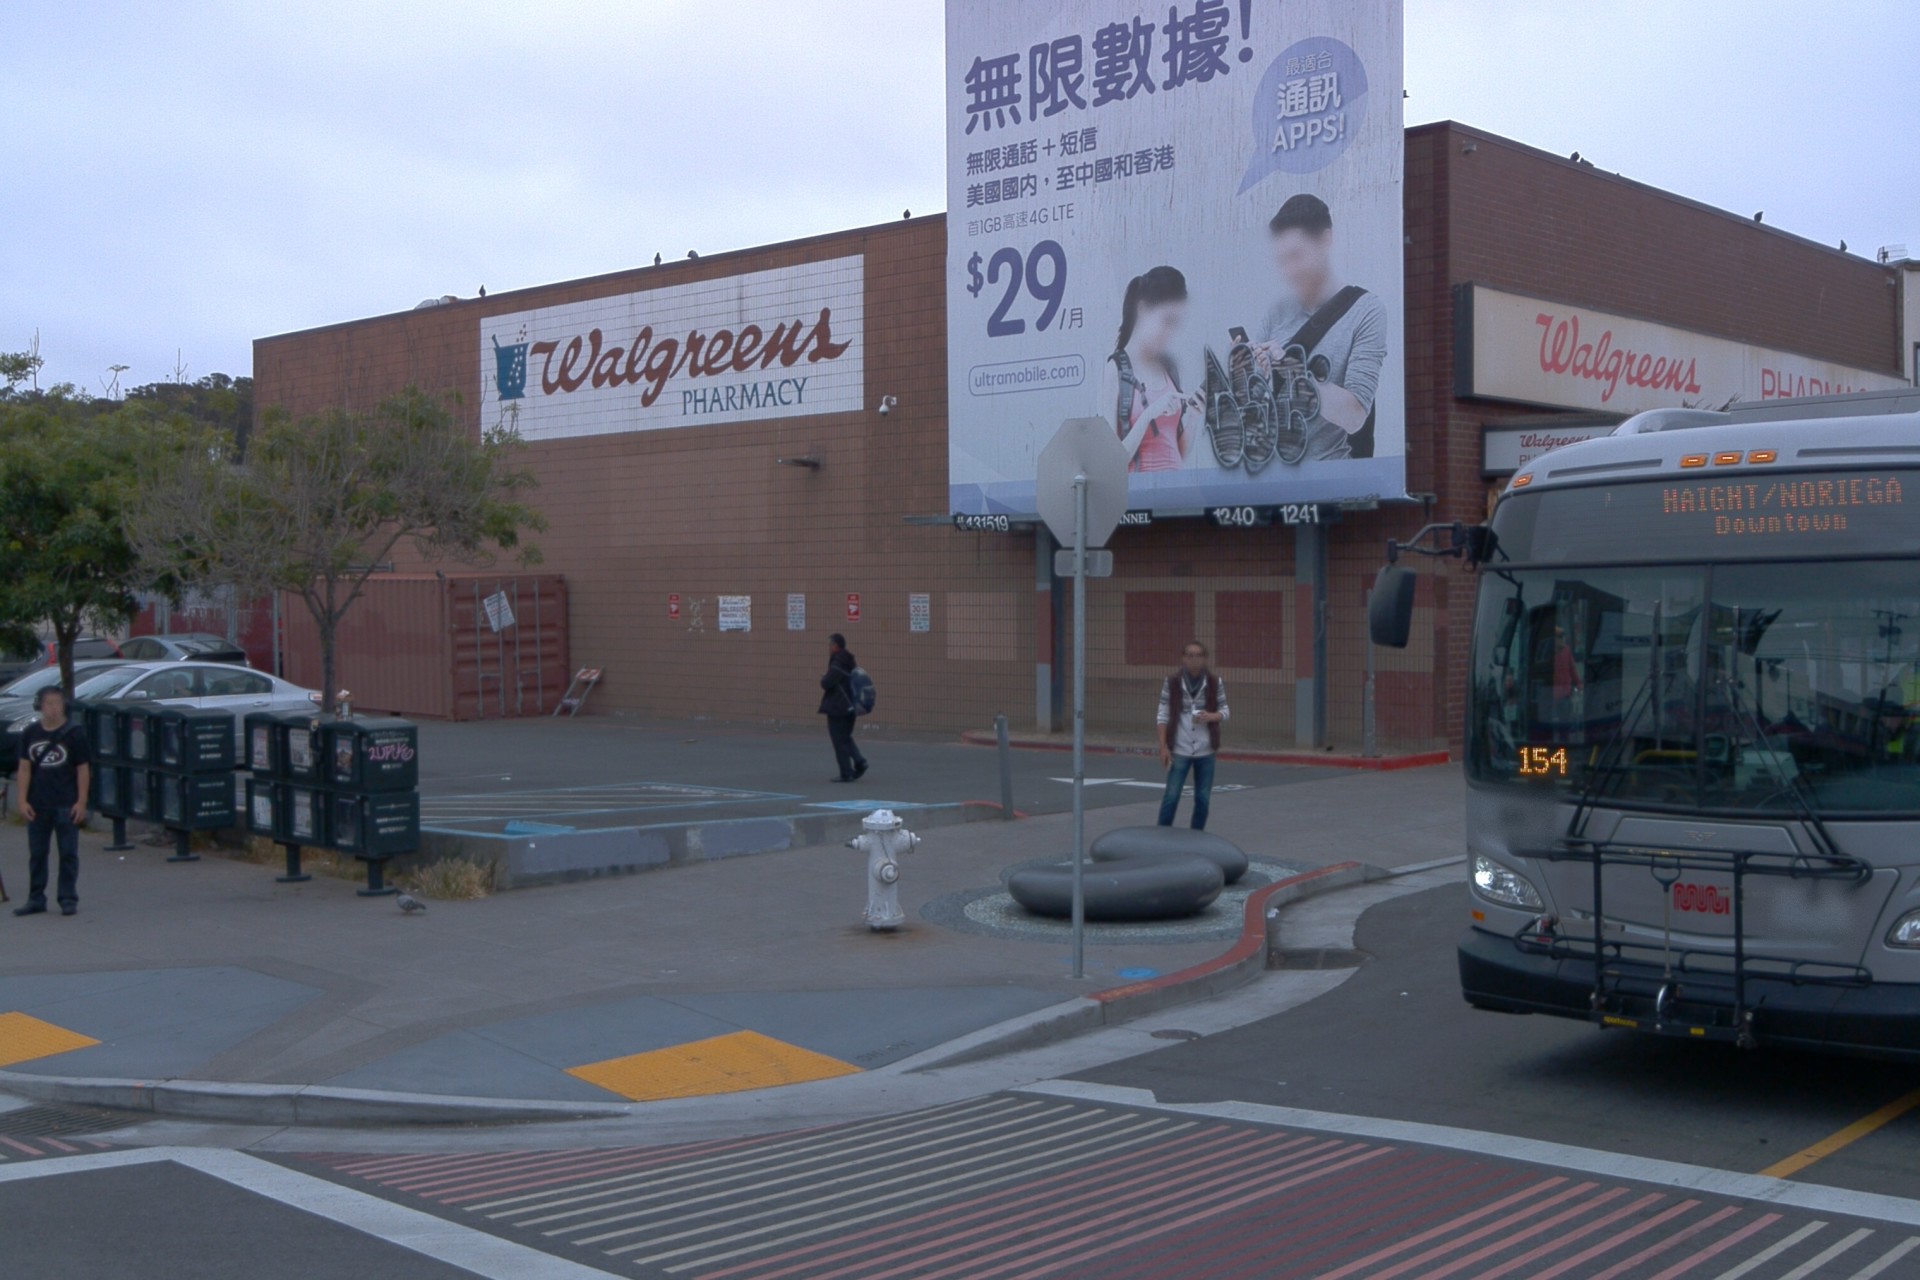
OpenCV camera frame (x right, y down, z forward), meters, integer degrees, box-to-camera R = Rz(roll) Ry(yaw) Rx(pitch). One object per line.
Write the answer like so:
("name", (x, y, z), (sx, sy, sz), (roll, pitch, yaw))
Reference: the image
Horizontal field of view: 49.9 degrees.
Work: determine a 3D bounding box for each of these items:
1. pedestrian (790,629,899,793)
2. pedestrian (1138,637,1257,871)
("pedestrian", (-1.294, 0.780, 23.251), (0.925, 1.791, 0.913), (0, 1, 22))
("pedestrian", (1.917, 0.893, 16.814), (0.883, 1.820, 1.263), (0, 1, 3))
